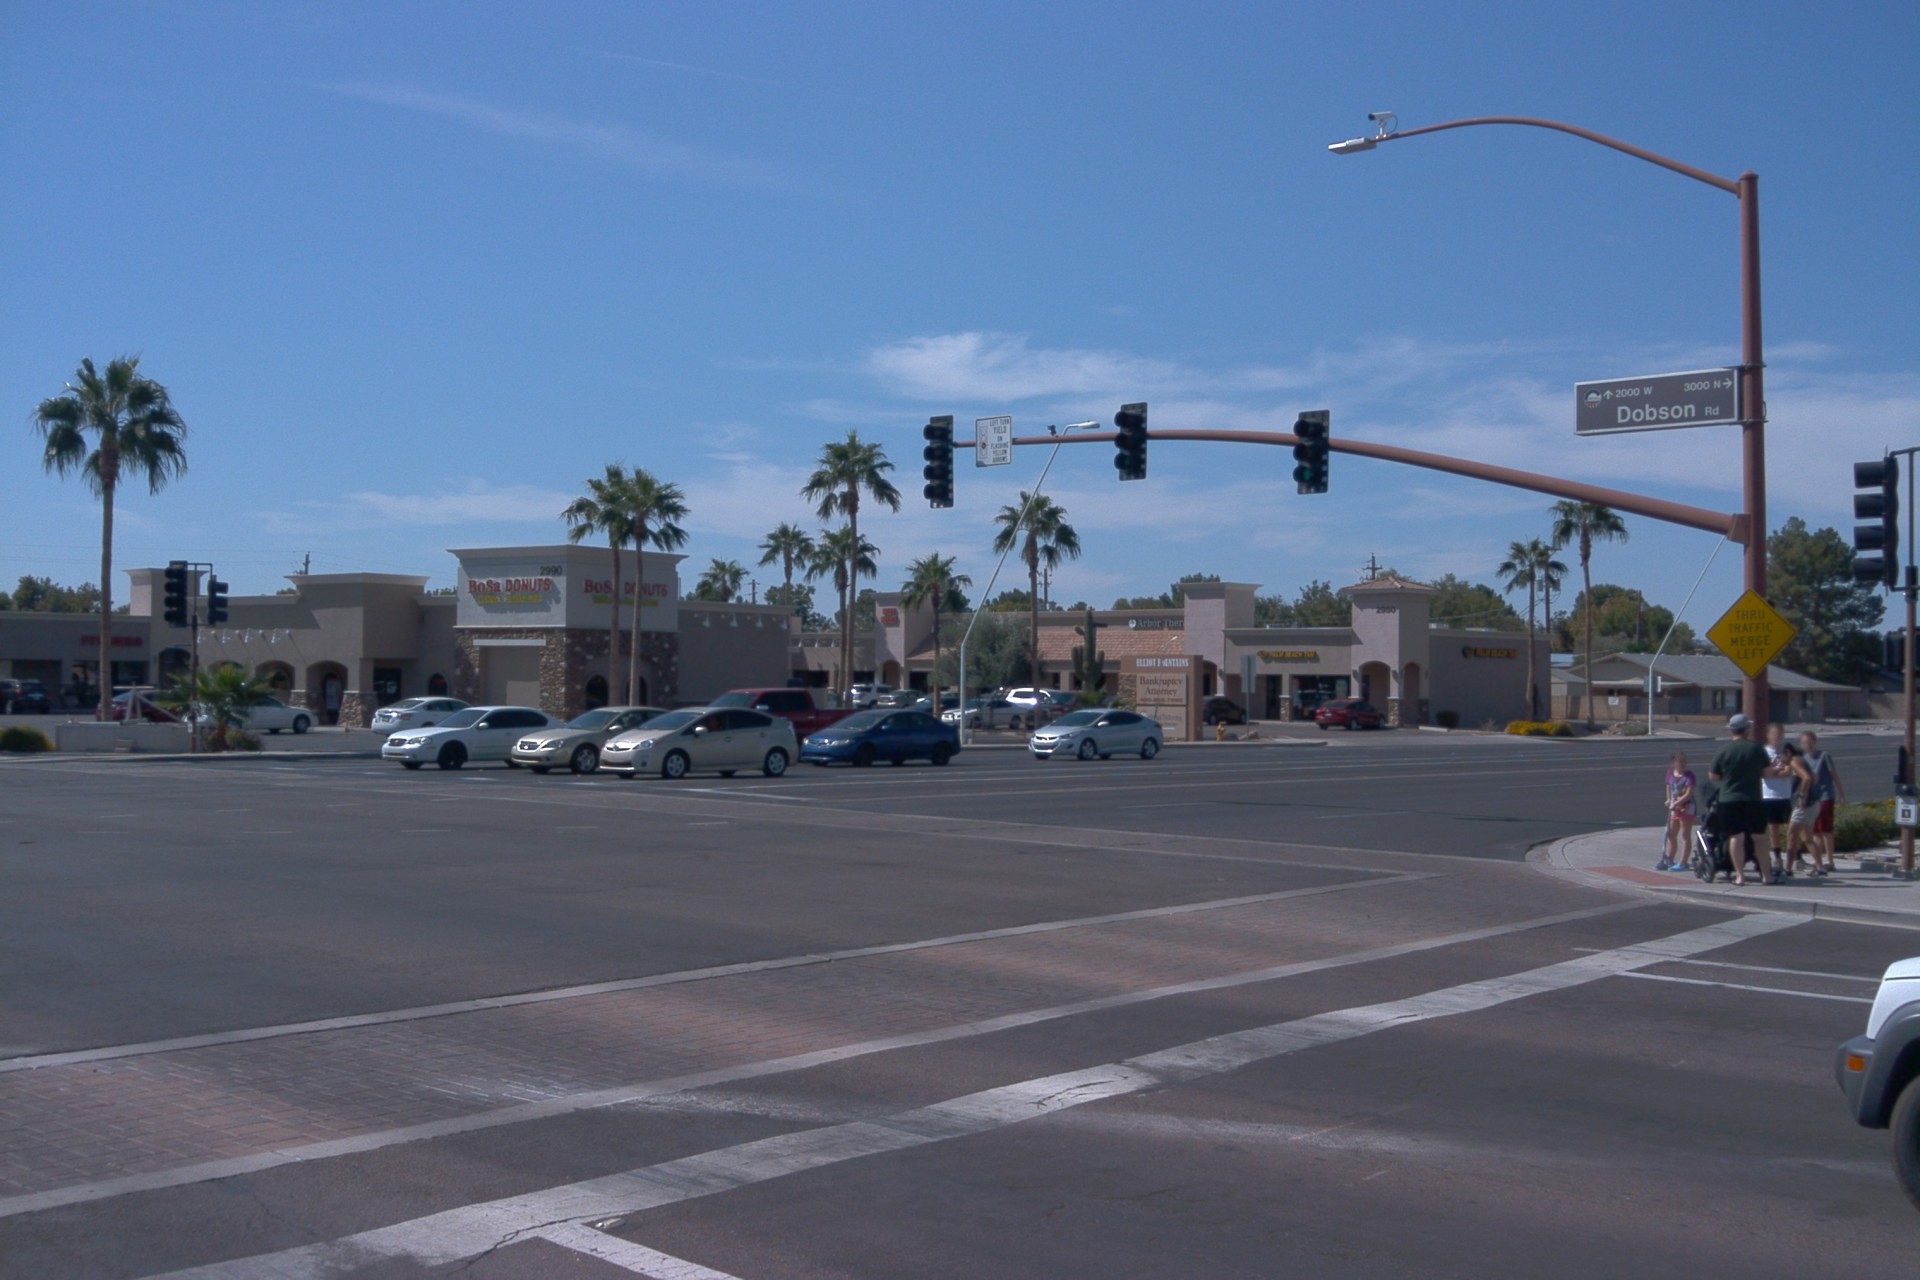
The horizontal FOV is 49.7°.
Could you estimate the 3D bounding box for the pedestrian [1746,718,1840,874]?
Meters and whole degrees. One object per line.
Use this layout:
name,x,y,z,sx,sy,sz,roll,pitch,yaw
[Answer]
pedestrian,9.377,1.743,23.334,0.695,1.710,0.690,0,0,-19

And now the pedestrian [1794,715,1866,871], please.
pedestrian,9.849,1.717,23.459,0.660,1.710,0.494,0,-1,34

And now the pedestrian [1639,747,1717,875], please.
pedestrian,8.190,1.941,23.638,0.561,1.400,0.650,1,-1,-43

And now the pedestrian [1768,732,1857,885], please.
pedestrian,9.205,1.799,22.367,0.755,1.580,0.644,1,-1,-44

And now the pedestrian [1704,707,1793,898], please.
pedestrian,8.204,1.679,21.578,0.762,1.940,0.566,0,0,11
